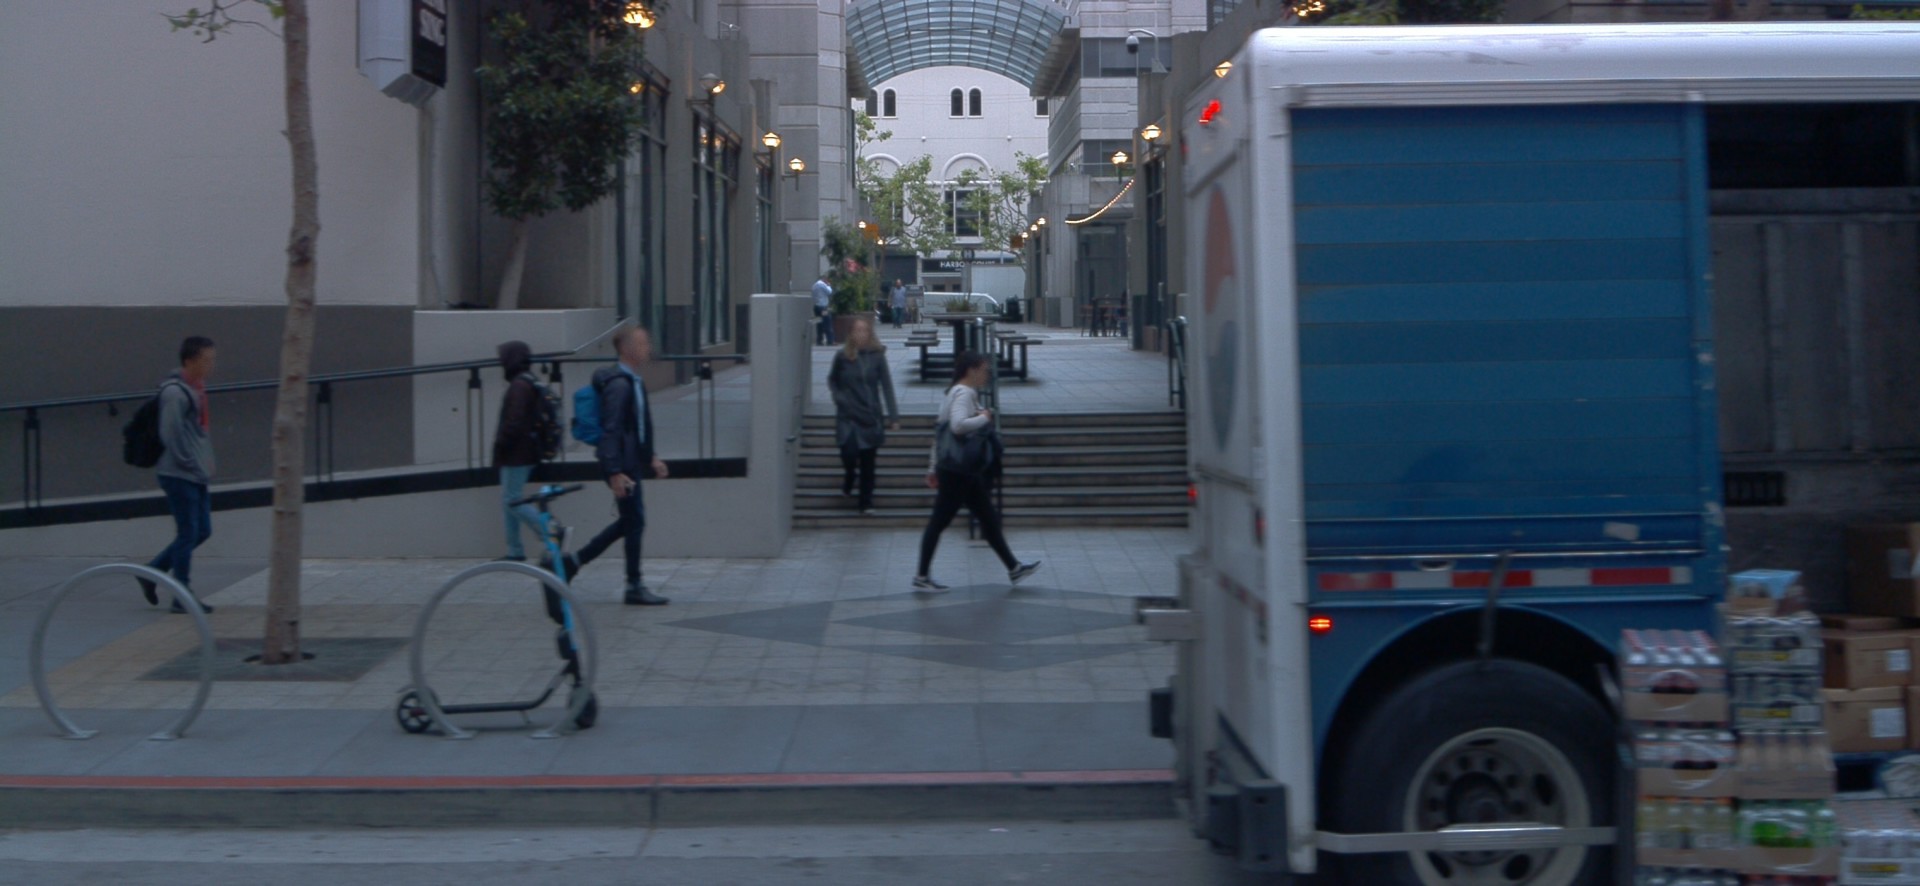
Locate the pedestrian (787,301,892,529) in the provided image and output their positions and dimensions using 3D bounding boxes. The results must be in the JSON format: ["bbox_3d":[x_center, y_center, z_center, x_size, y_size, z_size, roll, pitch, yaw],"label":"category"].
[{"bbox_3d":[-0.993,-0.254,17.187,0.830,1.796,0.897,-1,2,-2],"label":"pedestrian"}]

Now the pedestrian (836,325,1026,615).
[{"bbox_3d":[-0.189,0.145,13.650,1.195,1.776,1.024,-1,3,-1],"label":"pedestrian"}]

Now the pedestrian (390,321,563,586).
[{"bbox_3d":[-3.476,0.048,14.942,1.065,1.806,0.805,-1,2,-3],"label":"pedestrian"}]

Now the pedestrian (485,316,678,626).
[{"bbox_3d":[-2.397,0.147,13.213,1.053,1.856,0.923,-1,2,-1],"label":"pedestrian"}]

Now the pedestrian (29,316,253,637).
[{"bbox_3d":[-5.141,0.178,13.038,1.034,1.899,0.879,-1,2,0],"label":"pedestrian"}]
